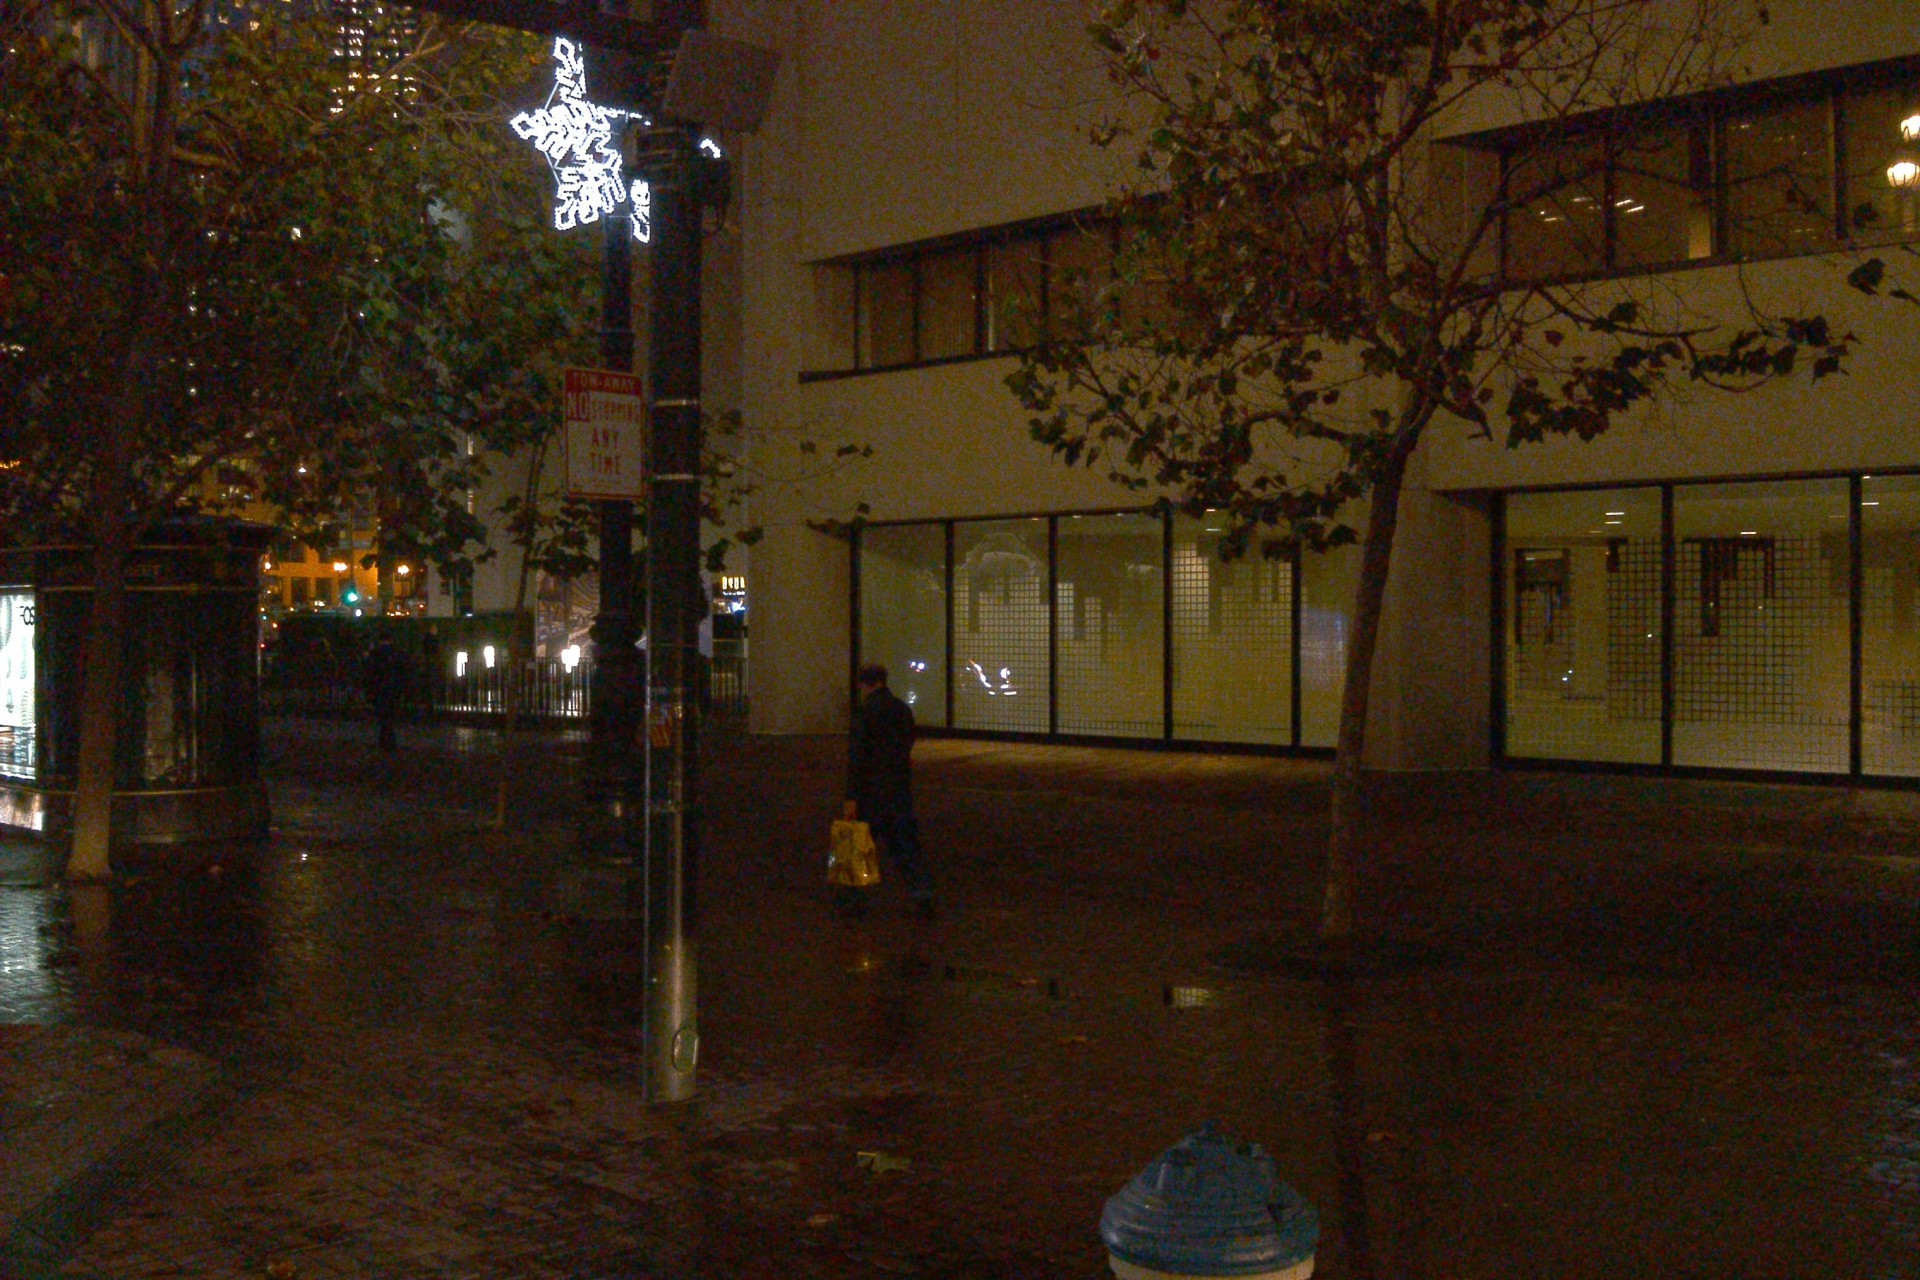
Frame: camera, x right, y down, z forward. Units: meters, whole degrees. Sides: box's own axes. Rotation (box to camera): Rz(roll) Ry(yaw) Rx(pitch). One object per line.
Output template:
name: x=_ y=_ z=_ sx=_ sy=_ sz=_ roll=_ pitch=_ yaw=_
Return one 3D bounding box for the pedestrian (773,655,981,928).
pedestrian: x=-0.567 y=0.979 z=13.860 sx=0.941 sy=1.740 sz=1.066 roll=1 pitch=0 yaw=-40

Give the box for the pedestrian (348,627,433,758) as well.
pedestrian: x=-7.958 y=0.721 z=28.621 sx=0.860 sy=1.780 sz=1.103 roll=1 pitch=0 yaw=-32
